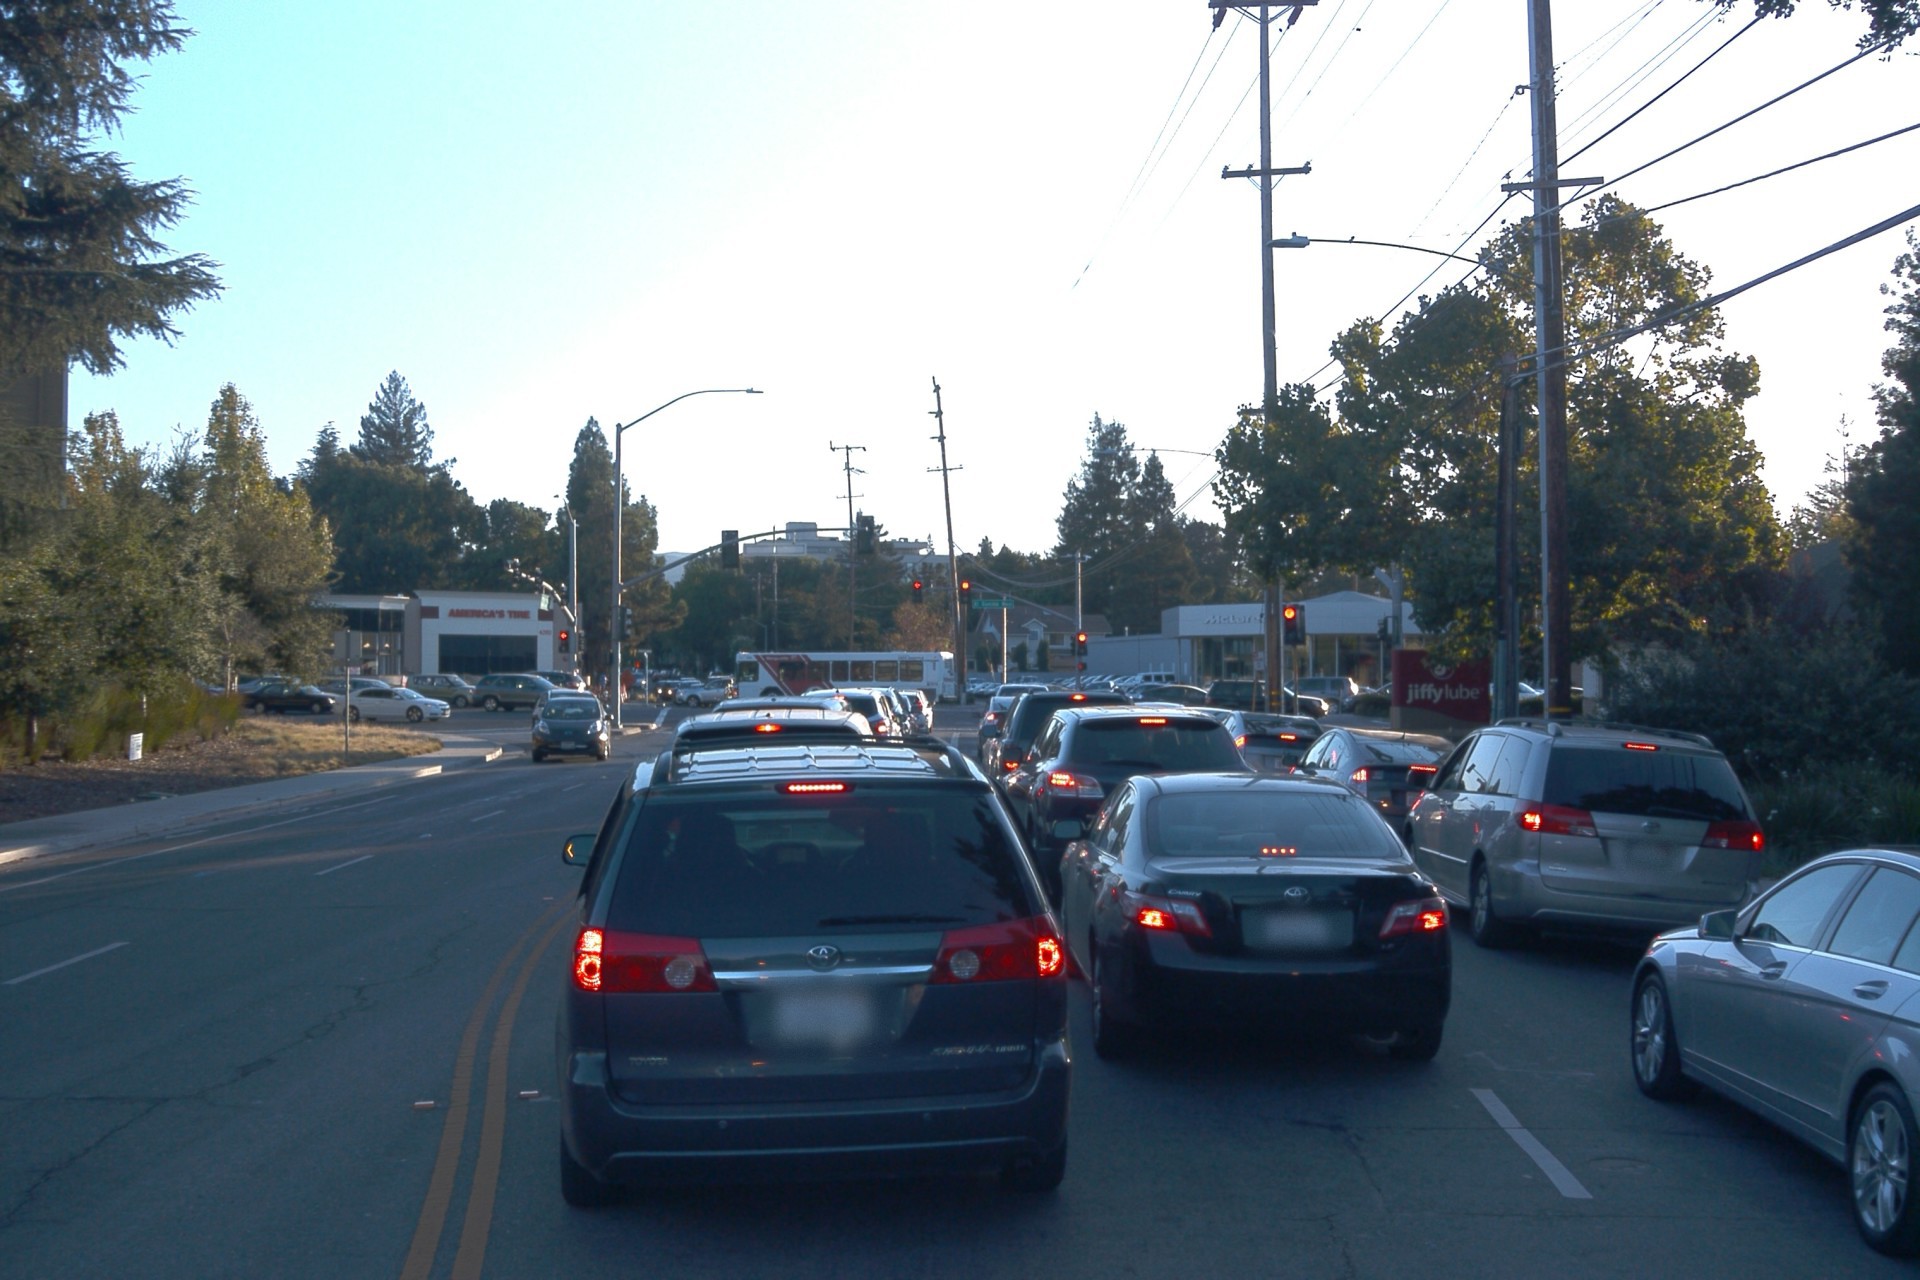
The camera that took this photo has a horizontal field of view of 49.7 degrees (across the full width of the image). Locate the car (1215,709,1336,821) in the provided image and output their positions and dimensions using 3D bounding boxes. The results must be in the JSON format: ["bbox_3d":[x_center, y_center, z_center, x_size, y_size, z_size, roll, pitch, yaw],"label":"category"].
[{"bbox_3d":[4.670,1.823,30.934,1.418,1.490,3.138,0,0,2],"label":"car"}]

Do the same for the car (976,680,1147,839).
[{"bbox_3d":[1.186,1.417,25.823,1.759,1.770,3.957,0,0,-3],"label":"car"}]

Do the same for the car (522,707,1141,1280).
[{"bbox_3d":[-0.833,1.304,9.725,2.102,1.830,5.461,0,0,-9],"label":"car"}]

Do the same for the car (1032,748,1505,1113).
[{"bbox_3d":[1.529,1.479,11.982,1.915,1.490,4.528,0,0,-2],"label":"car"}]

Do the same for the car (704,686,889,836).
[{"bbox_3d":[-1.862,1.366,24.681,1.760,1.570,3.956,0,0,2],"label":"car"}]

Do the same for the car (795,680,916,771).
[{"bbox_3d":[-1.661,1.358,33.817,1.709,1.350,3.337,0,0,2],"label":"car"}]

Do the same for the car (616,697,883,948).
[{"bbox_3d":[-1.508,1.299,16.138,1.812,1.620,4.042,0,0,-2],"label":"car"}]

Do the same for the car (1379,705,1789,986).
[{"bbox_3d":[4.903,1.525,17.100,2.061,1.850,4.903,0,0,2],"label":"car"}]

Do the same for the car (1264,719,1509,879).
[{"bbox_3d":[4.676,1.710,23.272,1.785,1.510,4.026,0,0,-2],"label":"car"}]

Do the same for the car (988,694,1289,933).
[{"bbox_3d":[1.458,1.439,18.794,1.992,1.810,4.553,0,0,-5],"label":"car"}]
